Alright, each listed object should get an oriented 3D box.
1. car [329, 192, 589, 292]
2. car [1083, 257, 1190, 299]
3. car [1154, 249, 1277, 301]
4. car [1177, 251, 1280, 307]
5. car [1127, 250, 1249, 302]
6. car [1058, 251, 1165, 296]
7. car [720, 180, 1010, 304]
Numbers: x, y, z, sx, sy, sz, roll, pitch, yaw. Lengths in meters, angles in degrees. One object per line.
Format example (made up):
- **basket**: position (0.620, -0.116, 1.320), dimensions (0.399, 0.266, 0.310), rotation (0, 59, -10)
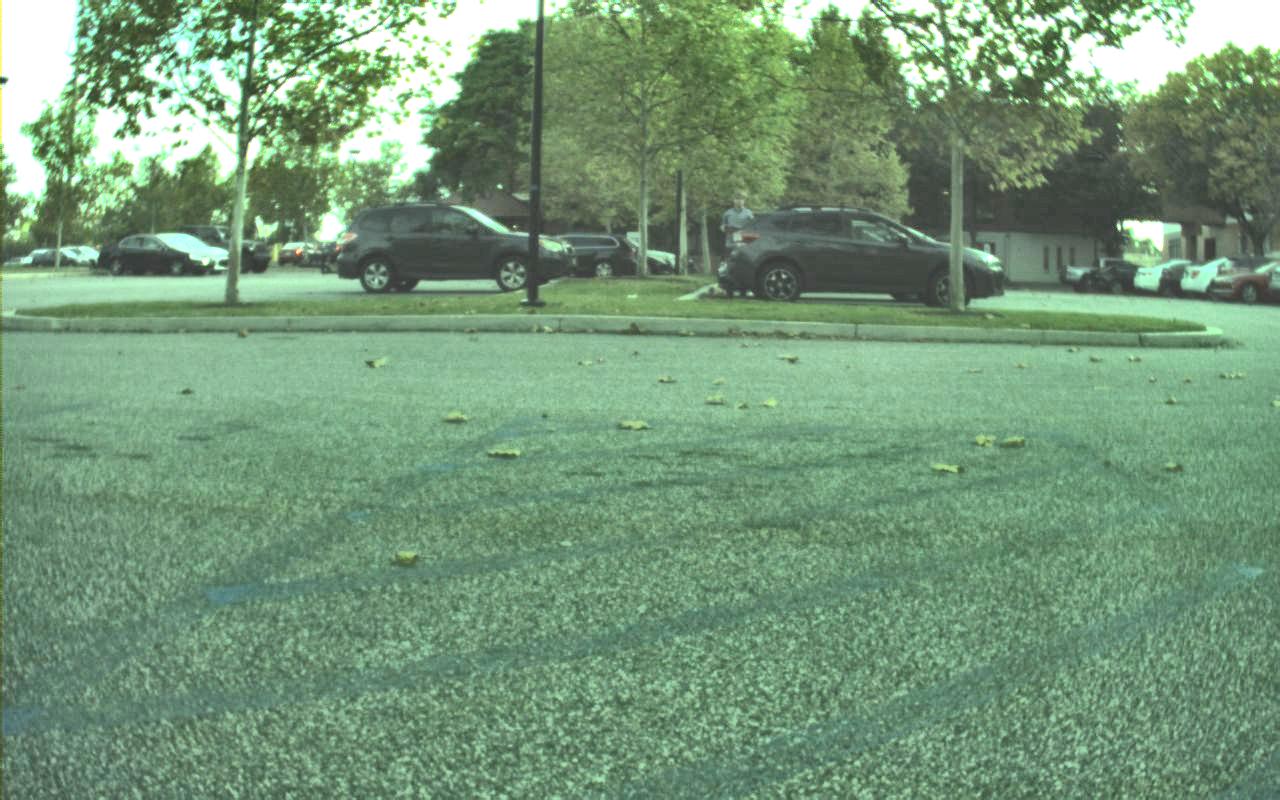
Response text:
- **car**: position (-3.408, -2.939, 23.647), dimensions (4.609, 1.666, 1.974), rotation (1, 1, 7)
- **car**: position (21.876, -5.269, 52.062), dimensions (4.581, 1.601, 1.964), rotation (0, 1, -1)
- **car**: position (20.866, -4.395, 41.795), dimensions (4.407, 1.655, 1.956), rotation (1, 1, 8)
- **car**: position (20.711, -4.032, 39.300), dimensions (4.451, 1.687, 1.958), rotation (1, 1, 10)
- **car**: position (20.924, -4.617, 44.423), dimensions (4.569, 1.719, 2.001), rotation (1, 1, 9)
- **car**: position (22.559, -5.964, 57.049), dimensions (4.998, 1.917, 2.103), rotation (1, 1, 6)
- **car**: position (3.519, -2.475, 19.869), dimensions (4.489, 1.738, 1.951), rotation (1, 1, 3)
